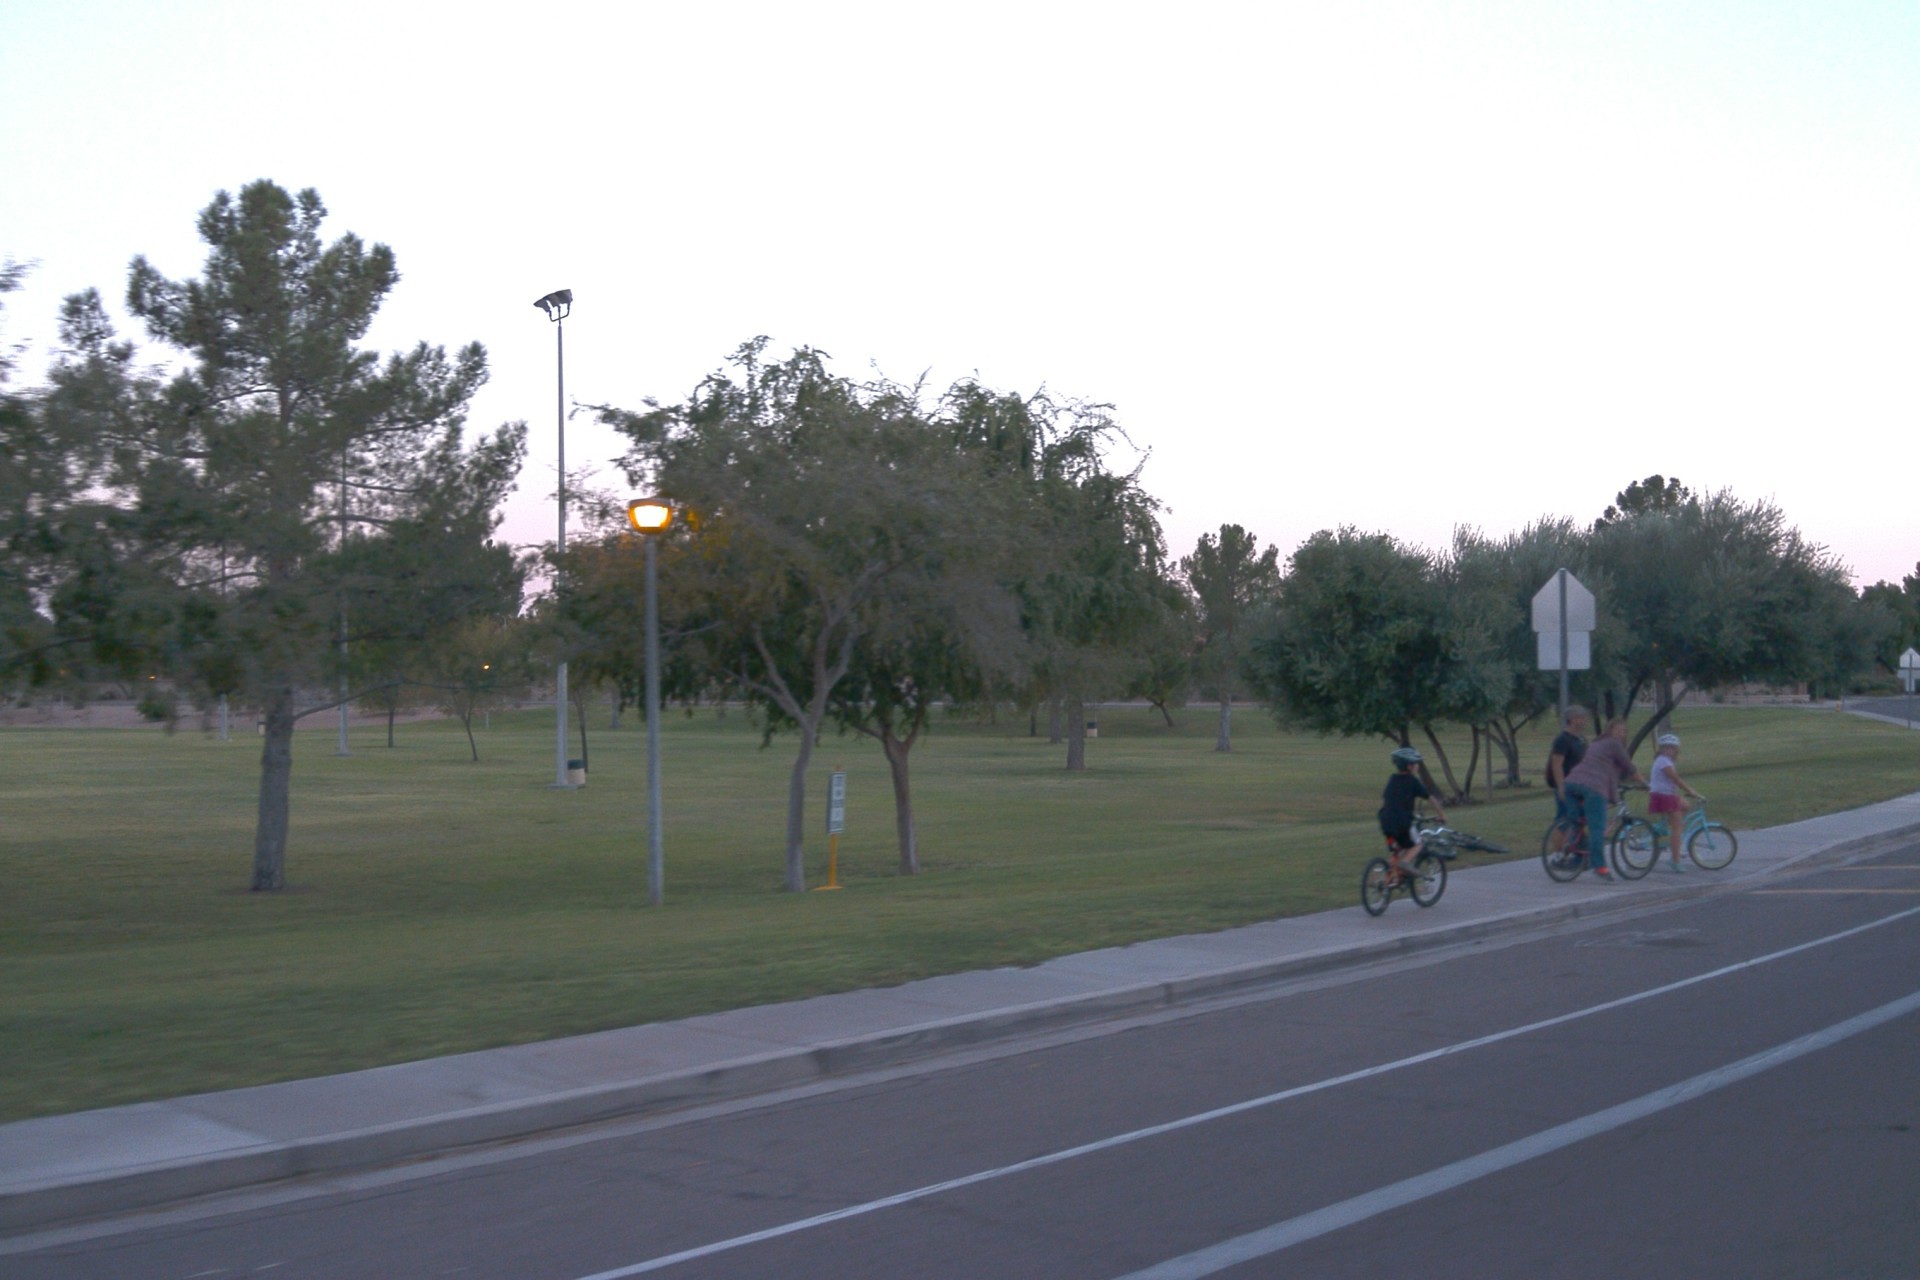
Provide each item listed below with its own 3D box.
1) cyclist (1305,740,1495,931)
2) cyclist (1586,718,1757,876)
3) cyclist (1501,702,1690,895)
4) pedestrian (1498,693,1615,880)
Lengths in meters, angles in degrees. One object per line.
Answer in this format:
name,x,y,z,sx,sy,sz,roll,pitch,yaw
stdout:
cyclist,3.722,1.608,17.609,1.642,1.460,0.771,1,0,-44
cyclist,7.605,1.658,22.357,1.578,1.630,0.727,0,0,-10
cyclist,6.289,1.523,20.625,1.967,1.770,0.804,1,0,-39
pedestrian,6.138,1.479,21.496,0.835,1.840,0.887,0,0,43
